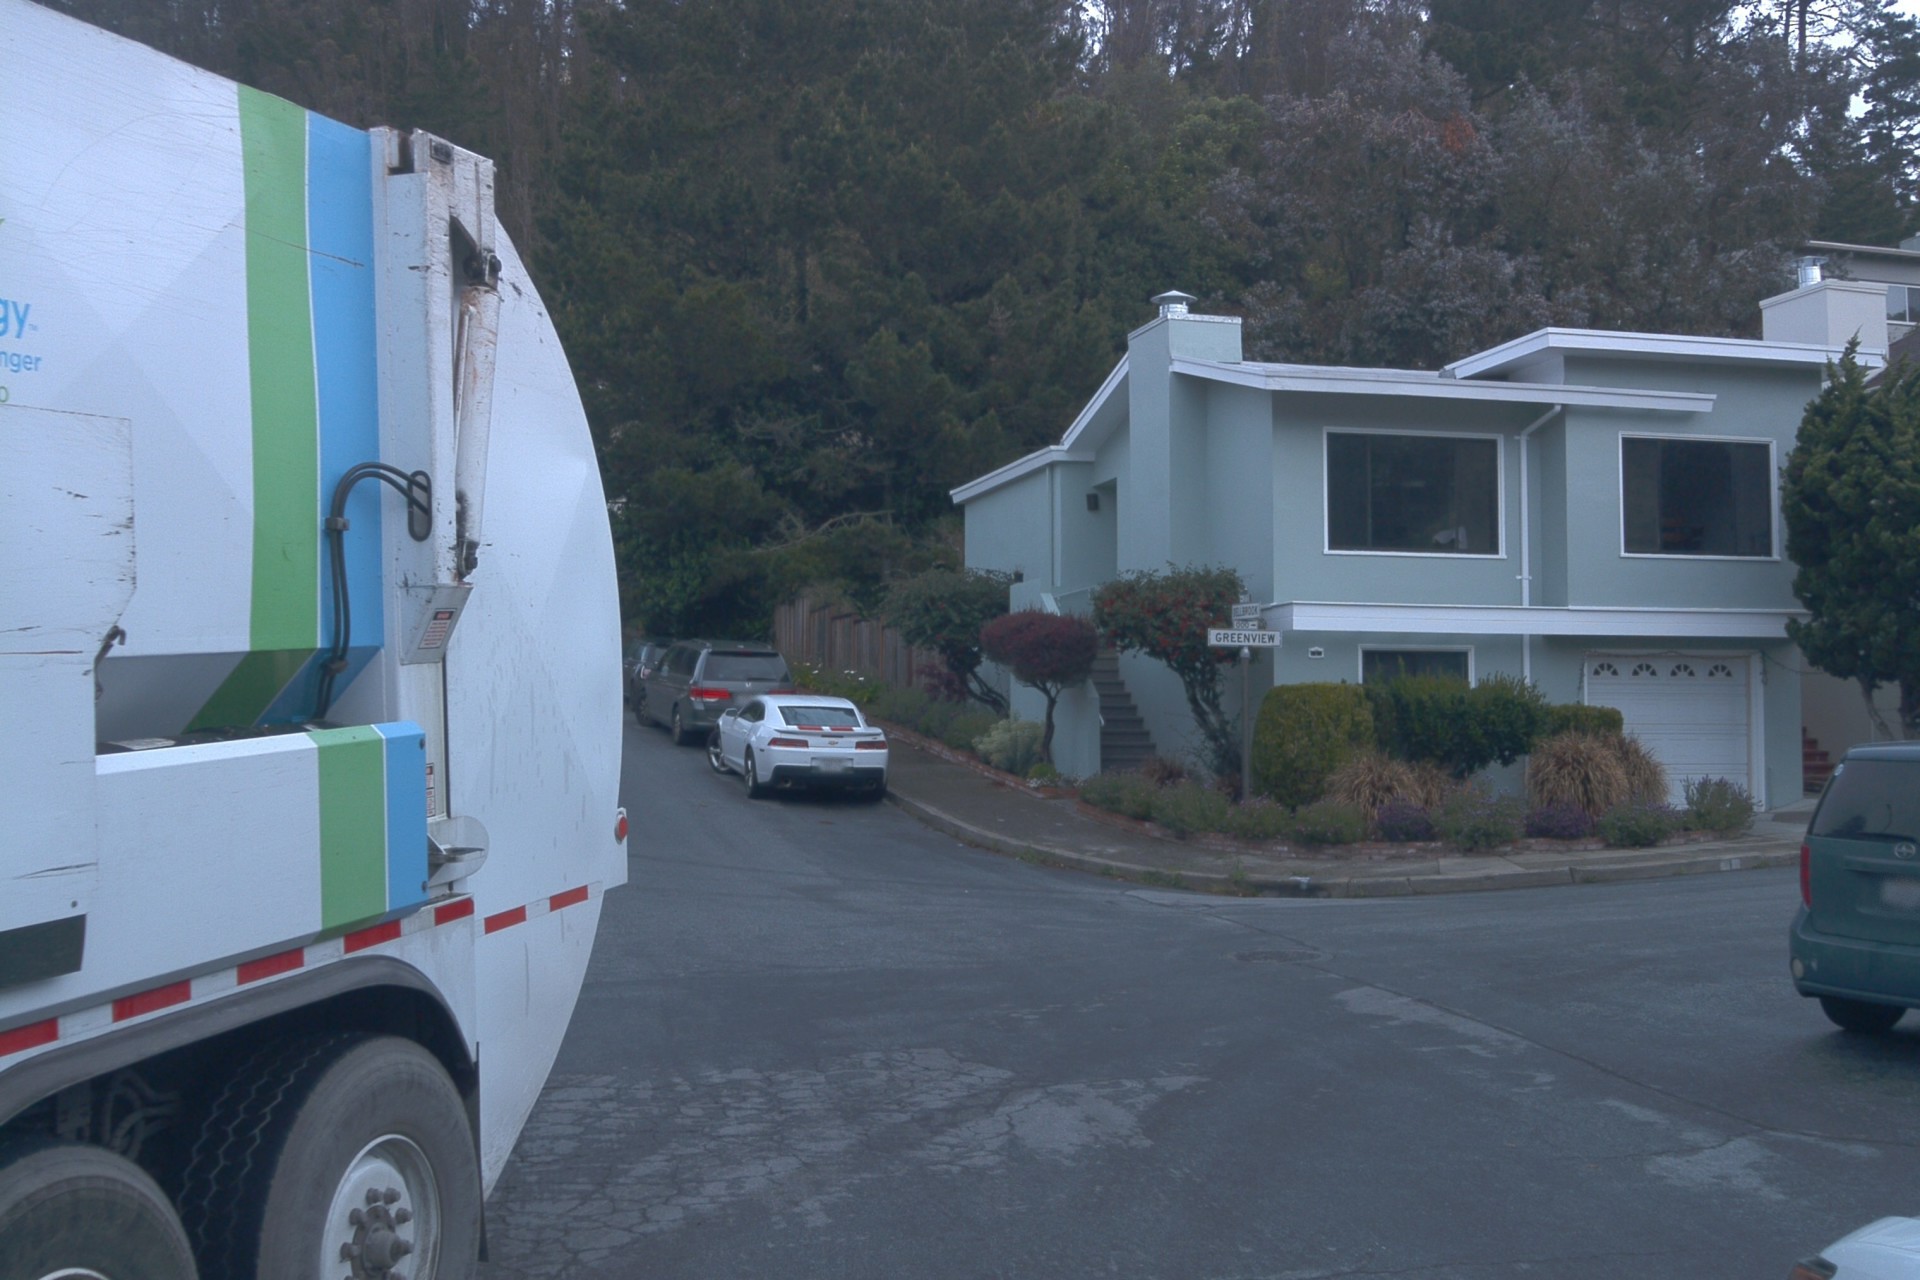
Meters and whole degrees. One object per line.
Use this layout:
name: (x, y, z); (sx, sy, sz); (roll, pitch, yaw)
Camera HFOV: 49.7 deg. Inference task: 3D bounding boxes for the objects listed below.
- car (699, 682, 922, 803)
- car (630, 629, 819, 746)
car: (-2.274, 1.408, 30.009); (2.197, 1.510, 4.909); (0, 0, -17)
car: (-4.218, 0.788, 36.399); (2.316, 1.910, 4.712); (0, 0, -19)
